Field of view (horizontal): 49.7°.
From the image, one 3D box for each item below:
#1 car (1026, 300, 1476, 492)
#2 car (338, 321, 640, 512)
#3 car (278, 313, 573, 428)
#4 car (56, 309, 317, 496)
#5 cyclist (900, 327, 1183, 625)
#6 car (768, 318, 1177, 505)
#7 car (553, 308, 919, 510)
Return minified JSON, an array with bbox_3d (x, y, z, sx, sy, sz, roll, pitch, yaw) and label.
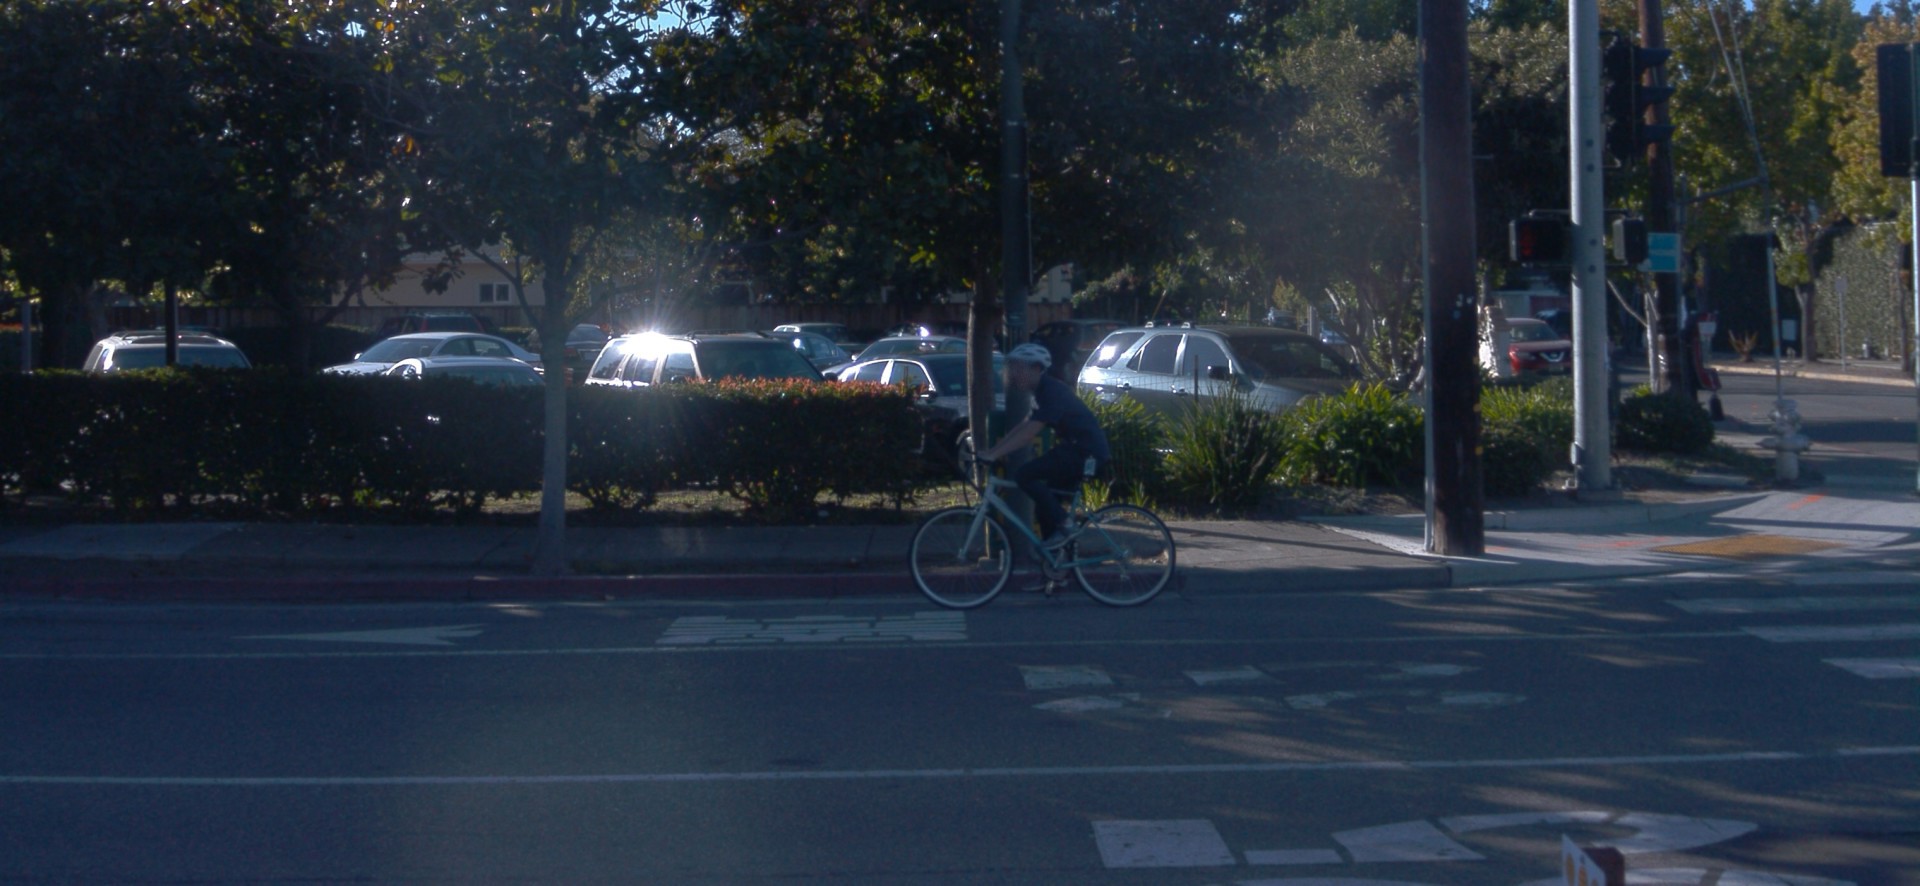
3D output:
[{"bbox_3d":[3.156,-0.656,23.572,2.134,1.744,5.090,-3,6,-36],"label":"car"},{"bbox_3d":[-5.308,-0.411,22.892,2.169,1.643,4.587,-2,6,-27],"label":"car"},{"bbox_3d":[-9.064,-1.326,35.695,2.136,1.583,5.180,2,6,25],"label":"car"},{"bbox_3d":[-8.775,-0.573,23.271,2.141,1.663,4.632,-2,6,-28],"label":"car"},{"bbox_3d":[0.512,0.187,13.584,1.799,1.859,0.700,0,1,-2],"label":"cyclist"},{"bbox_3d":[-0.024,-0.493,23.997,2.173,1.663,5.375,-3,6,-32],"label":"car"},{"bbox_3d":[-2.689,-0.515,23.634,2.041,1.823,5.101,-2,6,-33],"label":"car"}]
